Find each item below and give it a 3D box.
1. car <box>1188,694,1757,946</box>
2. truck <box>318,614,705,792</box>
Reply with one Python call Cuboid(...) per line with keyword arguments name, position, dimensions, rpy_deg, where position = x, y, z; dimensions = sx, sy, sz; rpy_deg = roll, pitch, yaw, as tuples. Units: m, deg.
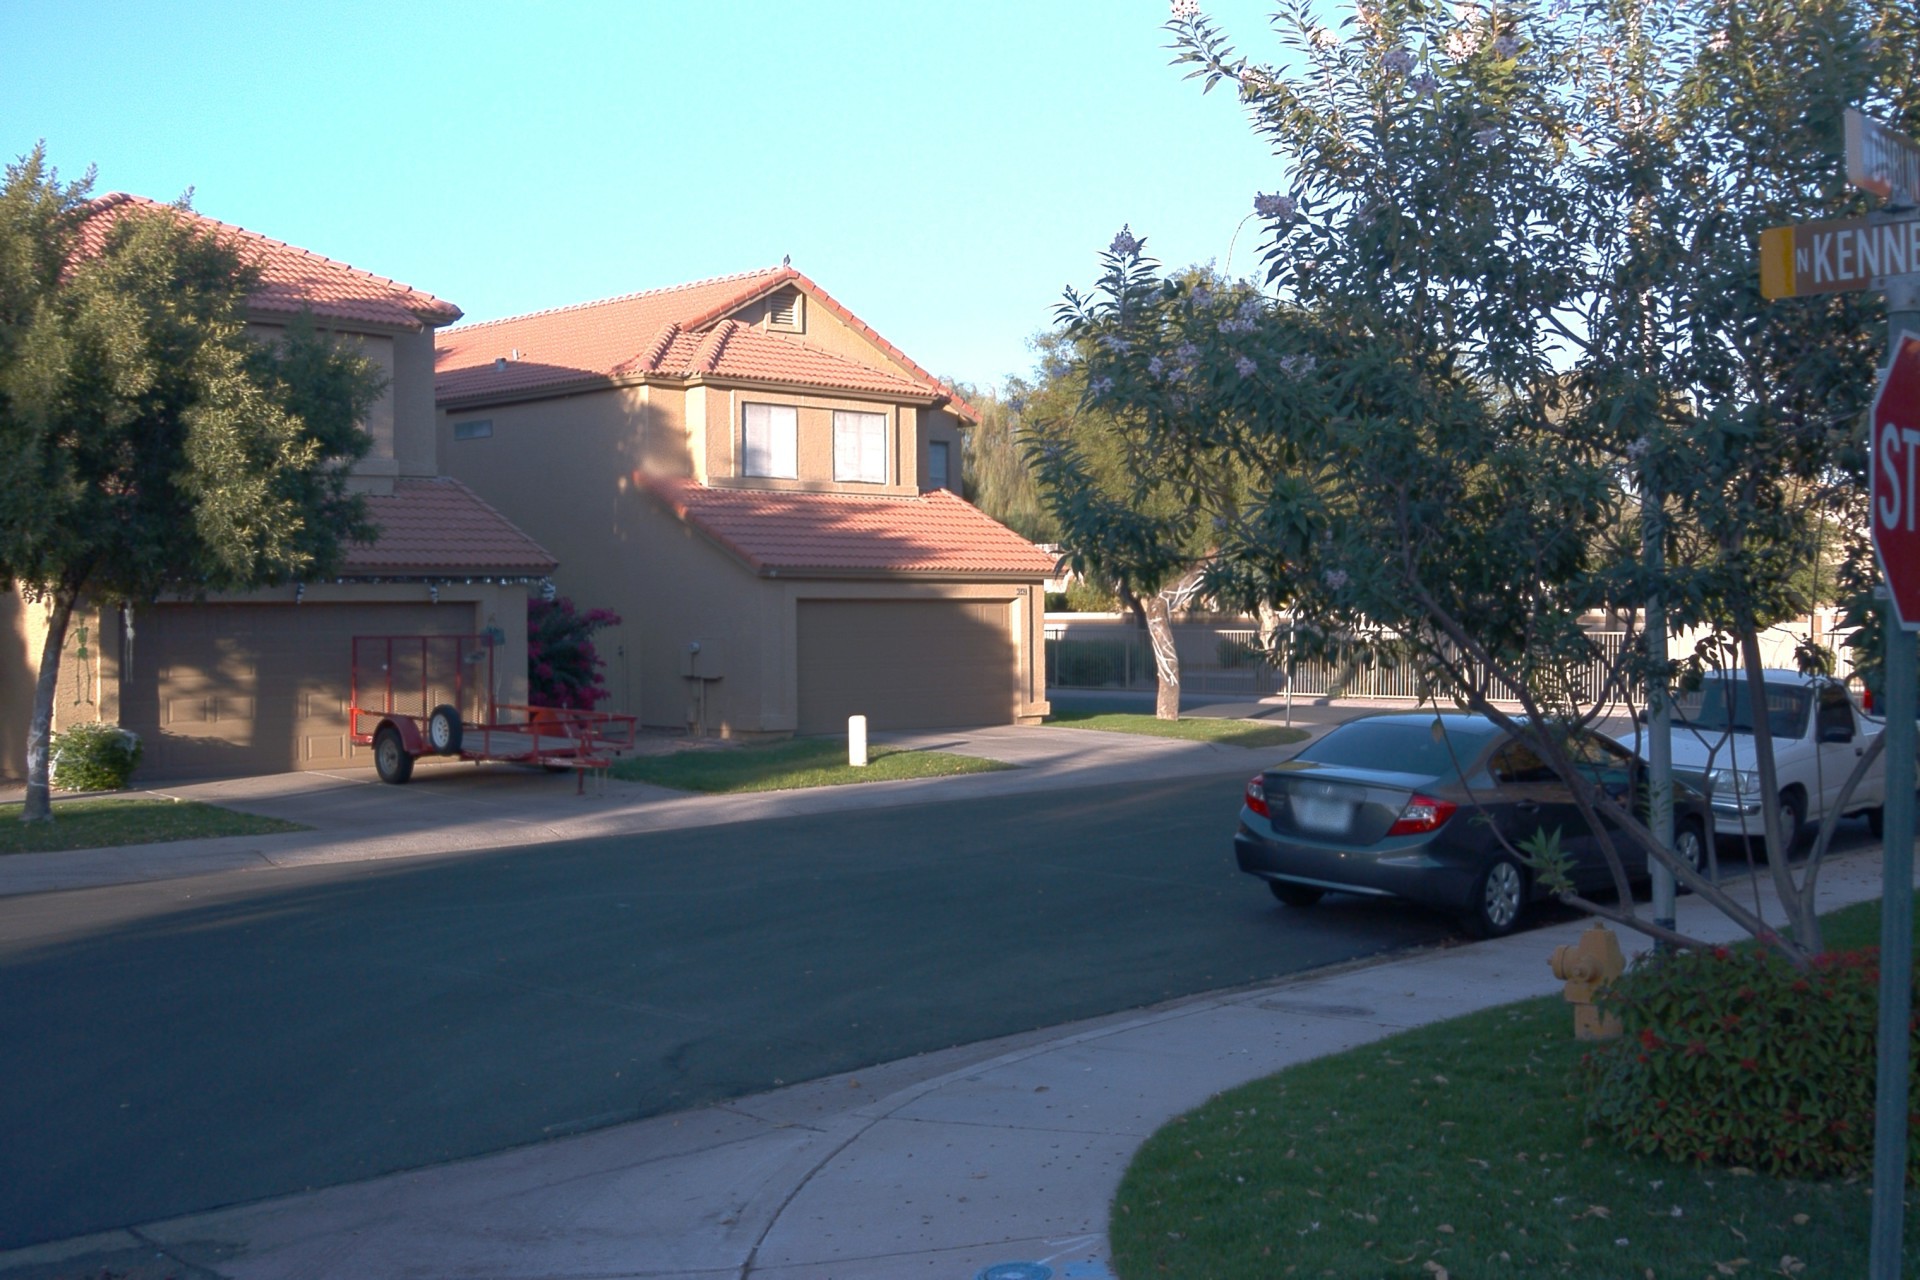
Cuboid(name="car", position=(3.847, 1.169, 15.101), dimensions=(2.054, 1.470, 4.462), rpy_deg=(0, -1, 44))
Cuboid(name="truck", position=(-5.405, 0.694, 24.742), dimensions=(2.622, 1.900, 4.348), rpy_deg=(1, -1, -43))
